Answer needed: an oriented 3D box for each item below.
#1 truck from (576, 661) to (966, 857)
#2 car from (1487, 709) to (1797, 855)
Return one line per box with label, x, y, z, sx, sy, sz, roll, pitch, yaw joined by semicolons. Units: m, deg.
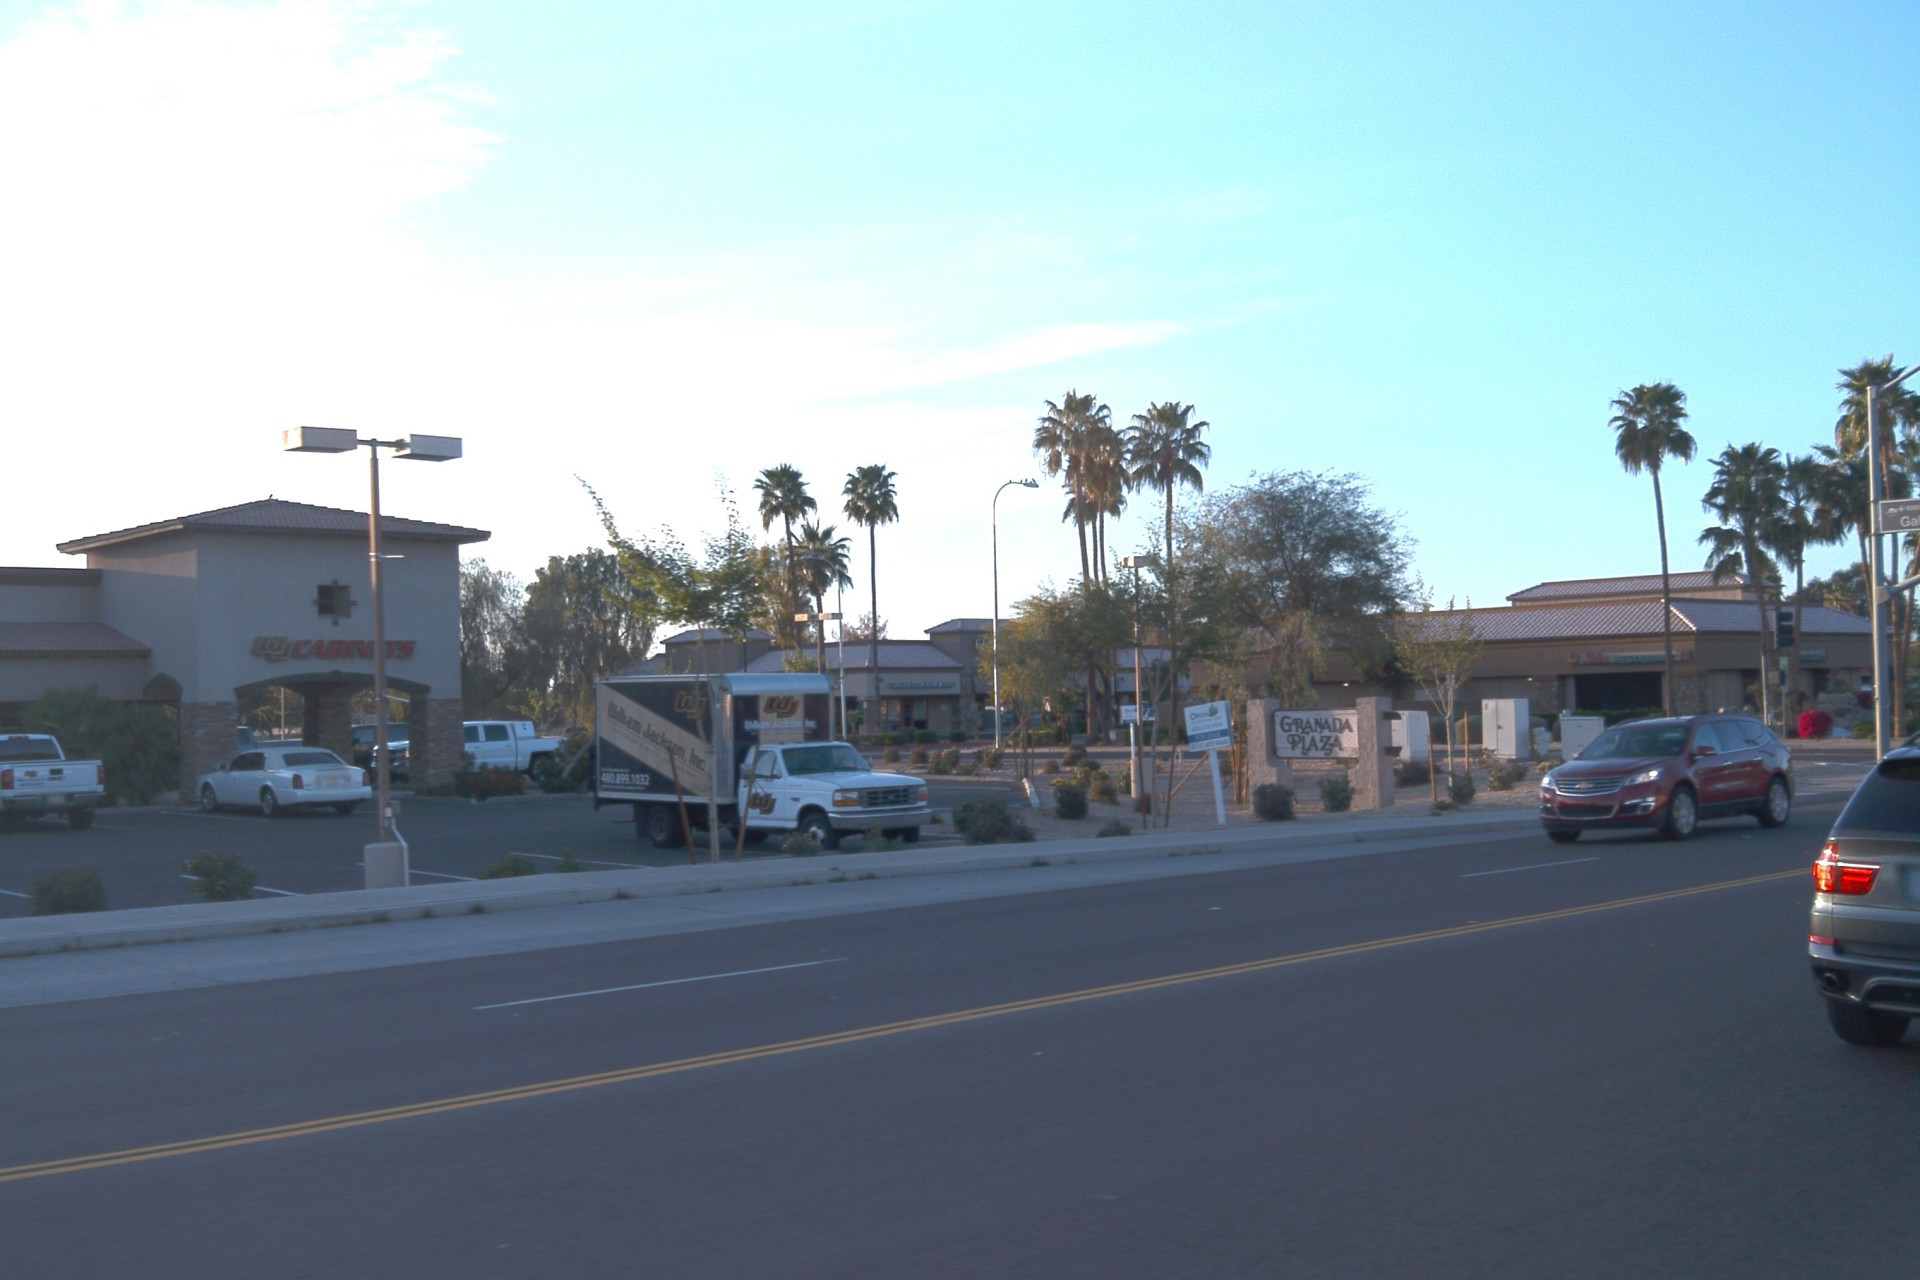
truck;-3.387;1.860;35.004;2.870;2.990;7.223;0;-1;-42
car;9.969;1.974;29.732;4.976;1.810;2.237;0;-1;-44
